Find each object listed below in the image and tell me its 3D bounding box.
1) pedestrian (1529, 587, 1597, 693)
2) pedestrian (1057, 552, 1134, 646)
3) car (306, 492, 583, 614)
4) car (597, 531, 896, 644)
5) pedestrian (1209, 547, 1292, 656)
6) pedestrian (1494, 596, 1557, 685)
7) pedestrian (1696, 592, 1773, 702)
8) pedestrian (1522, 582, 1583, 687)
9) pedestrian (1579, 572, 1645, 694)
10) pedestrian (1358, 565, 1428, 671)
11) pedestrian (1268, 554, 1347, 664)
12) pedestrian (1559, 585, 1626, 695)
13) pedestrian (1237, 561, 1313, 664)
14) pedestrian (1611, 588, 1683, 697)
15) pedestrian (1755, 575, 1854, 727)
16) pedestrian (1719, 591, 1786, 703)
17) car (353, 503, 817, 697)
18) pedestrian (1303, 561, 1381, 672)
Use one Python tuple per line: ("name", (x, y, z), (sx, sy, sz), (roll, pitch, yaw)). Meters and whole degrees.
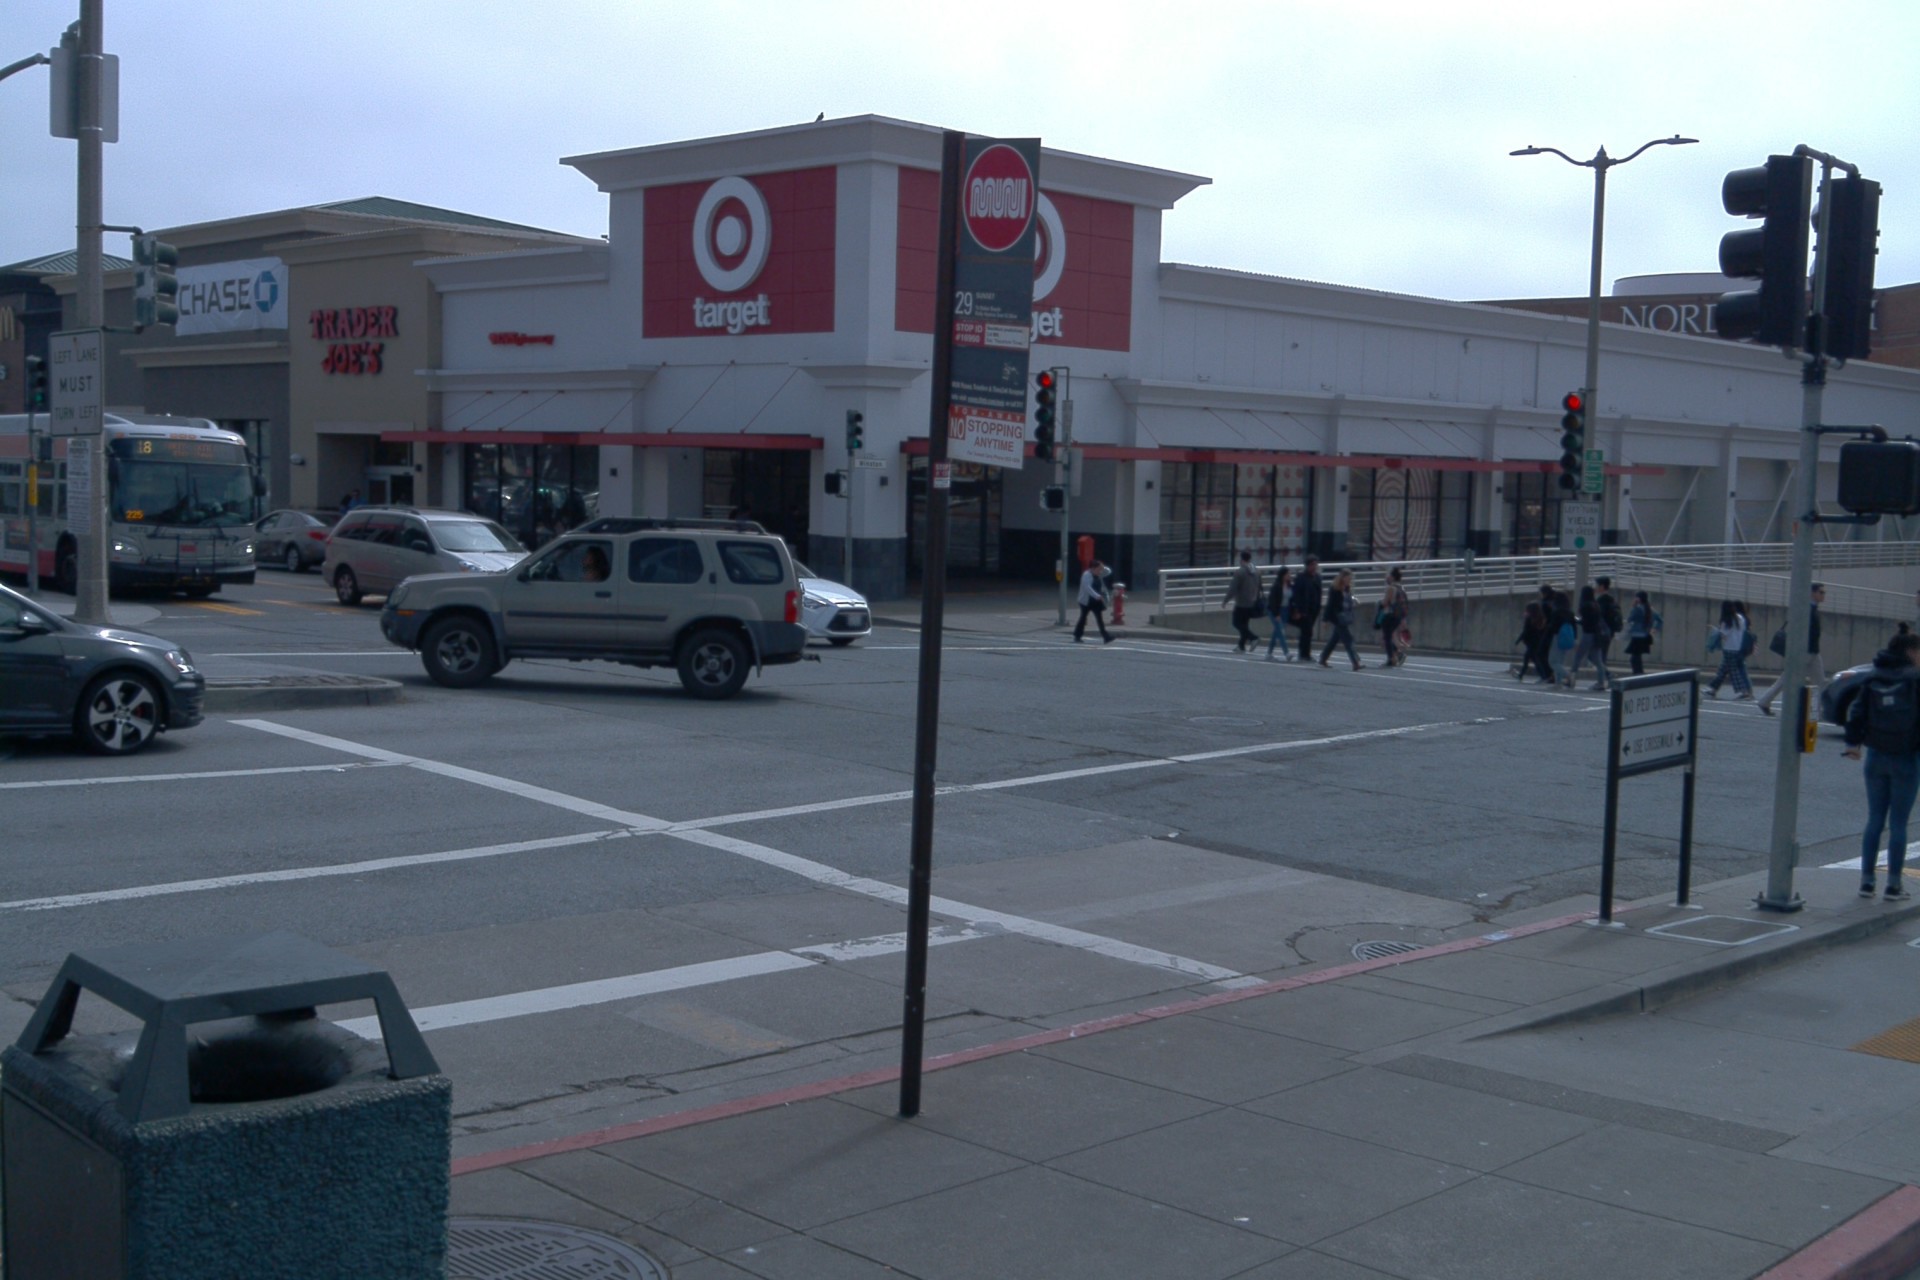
("pedestrian", (8.829, -0.011, 30.223), (0.680, 1.530, 0.707), (-1, 1, -42))
("pedestrian", (2.380, -0.717, 36.196), (0.944, 1.610, 0.972), (-1, 1, -43))
("car", (-9.026, -1.441, 35.897), (5.161, 1.970, 2.221), (1, 1, 43))
("car", (-3.278, -0.763, 31.284), (4.369, 1.600, 1.885), (0, 1, 37))
("pedestrian", (5.049, -0.665, 35.856), (1.043, 1.850, 1.025), (1, 1, 40))
("pedestrian", (8.733, -0.002, 31.885), (0.521, 1.360, 0.769), (-1, 1, -44))
("pedestrian", (11.654, 0.099, 31.061), (0.612, 1.630, 0.890), (-1, 1, -43))
("pedestrian", (9.233, -0.085, 32.150), (0.643, 1.610, 0.680), (-1, 1, -43))
("pedestrian", (9.733, -0.109, 30.808), (0.592, 1.800, 0.732), (-1, 1, -41))
("pedestrian", (7.070, -0.362, 33.711), (0.895, 1.700, 0.689), (1, 1, 44))
("pedestrian", (5.645, -0.502, 33.562), (0.795, 1.750, 1.018), (-1, 1, -29))
("pedestrian", (9.330, -0.010, 30.450), (0.587, 1.600, 0.758), (-1, 1, -42))
("pedestrian", (5.095, -0.441, 33.407), (0.742, 1.630, 0.987), (-1, 1, -35))
("pedestrian", (10.443, 0.027, 31.356), (0.786, 1.630, 0.721), (-1, 1, -38))
("pedestrian", (11.161, 0.135, 27.270), (0.973, 1.960, 0.863), (1, 1, 43))
("pedestrian", (12.057, 0.093, 31.394), (0.508, 1.680, 0.804), (-1, 1, -42))
("car", (-3.868, -0.422, 21.961), (4.645, 1.950, 2.047), (0, 1, -5))
("pedestrian", (5.904, -0.364, 31.893), (0.926, 1.680, 0.769), (1, 1, 42))
